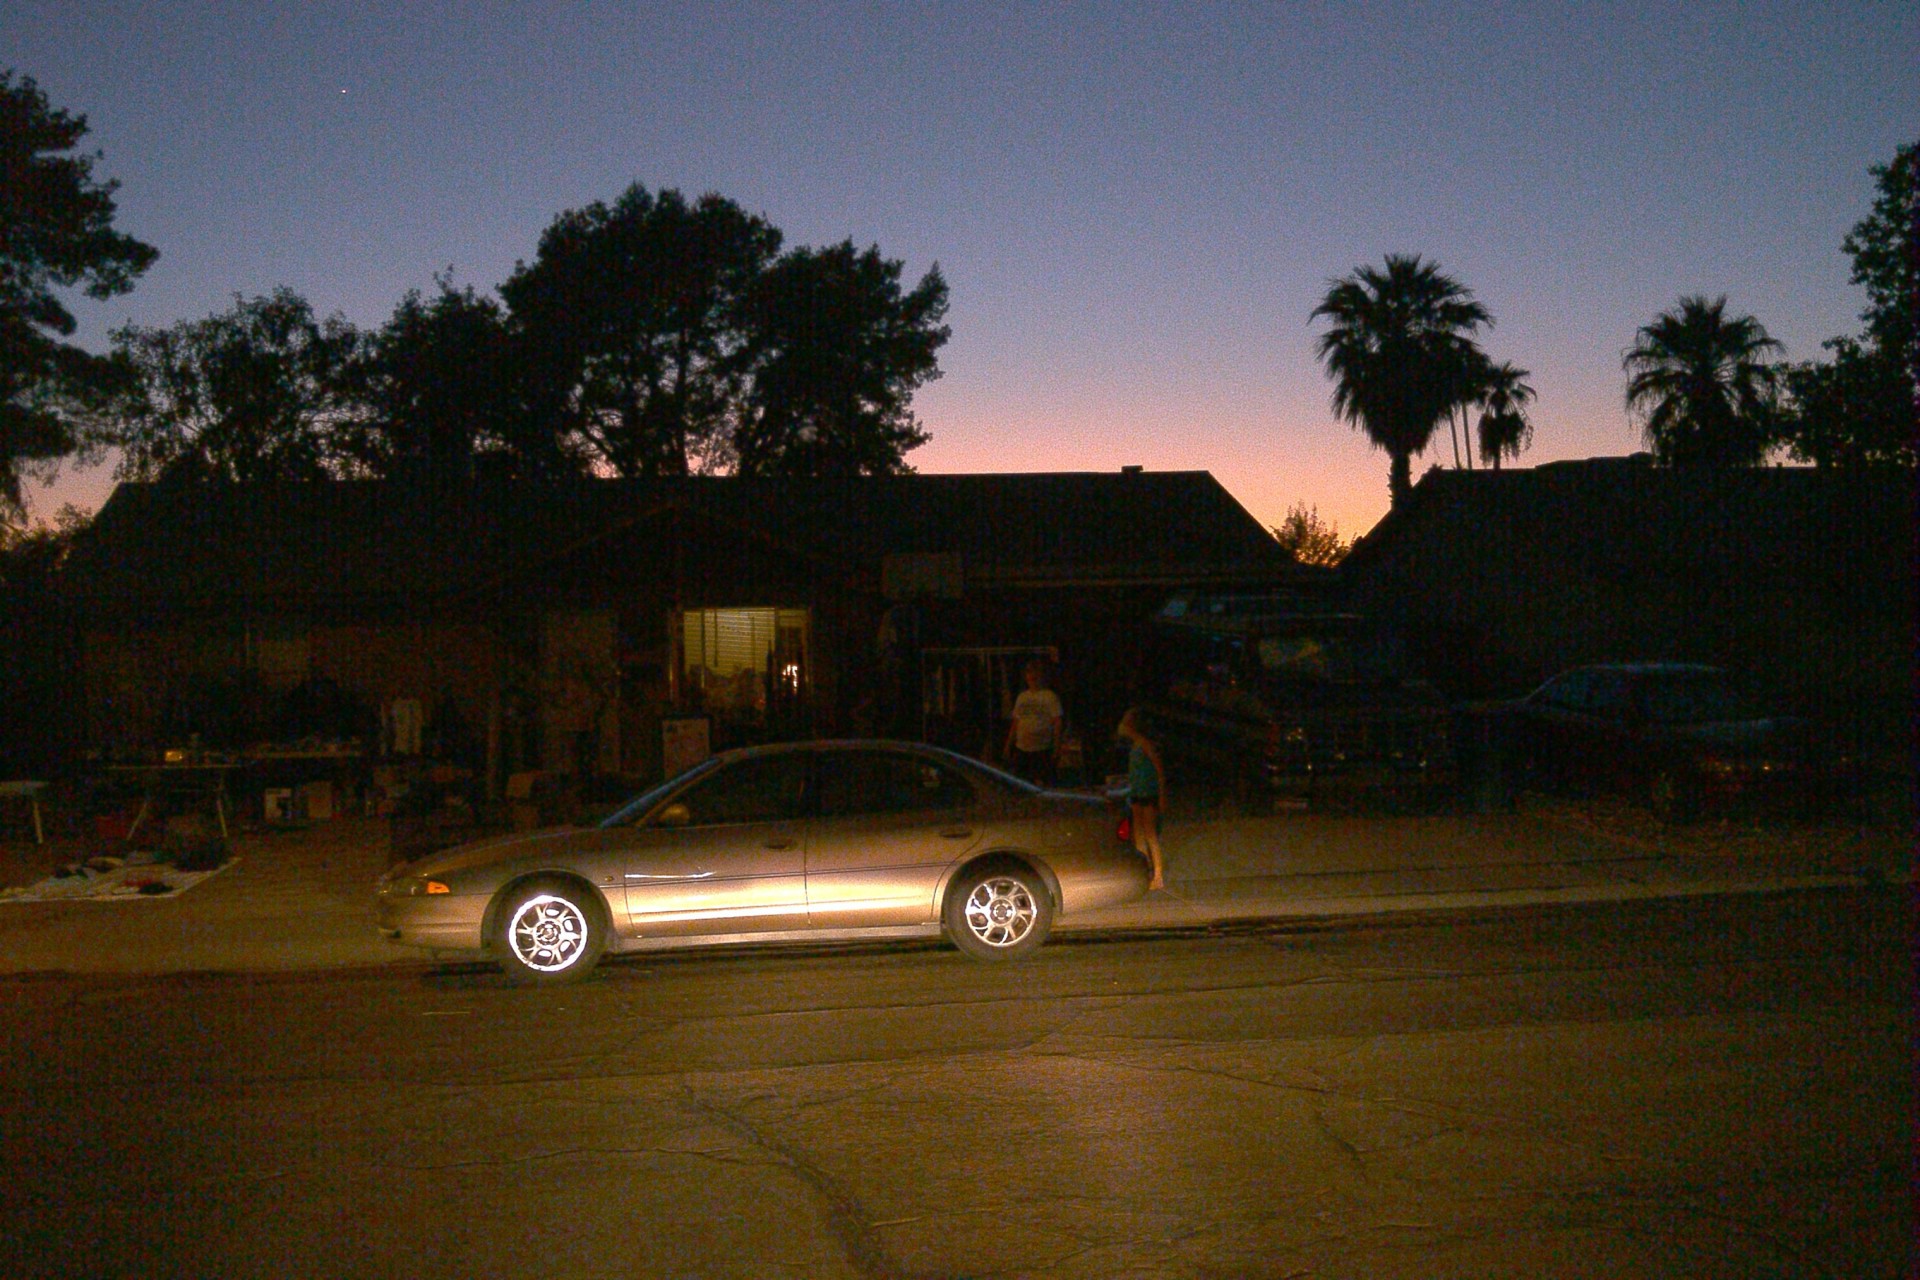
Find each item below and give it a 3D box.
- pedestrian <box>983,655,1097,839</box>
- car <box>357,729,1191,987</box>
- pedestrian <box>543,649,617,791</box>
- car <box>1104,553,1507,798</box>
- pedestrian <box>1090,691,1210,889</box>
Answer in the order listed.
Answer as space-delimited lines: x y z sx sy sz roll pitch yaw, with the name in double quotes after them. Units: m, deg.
0.746 0.989 19.547 0.832 1.690 0.834 0 -1 -18 "pedestrian"
-1.232 1.342 13.718 5.054 1.450 2.237 0 -1 -10 "car"
-4.440 0.928 24.335 0.812 1.640 0.647 0 -1 -8 "pedestrian"
3.506 0.394 22.527 2.591 2.310 5.423 0 -1 -11 "car"
1.510 1.180 16.649 0.834 1.540 0.878 0 -1 -3 "pedestrian"
